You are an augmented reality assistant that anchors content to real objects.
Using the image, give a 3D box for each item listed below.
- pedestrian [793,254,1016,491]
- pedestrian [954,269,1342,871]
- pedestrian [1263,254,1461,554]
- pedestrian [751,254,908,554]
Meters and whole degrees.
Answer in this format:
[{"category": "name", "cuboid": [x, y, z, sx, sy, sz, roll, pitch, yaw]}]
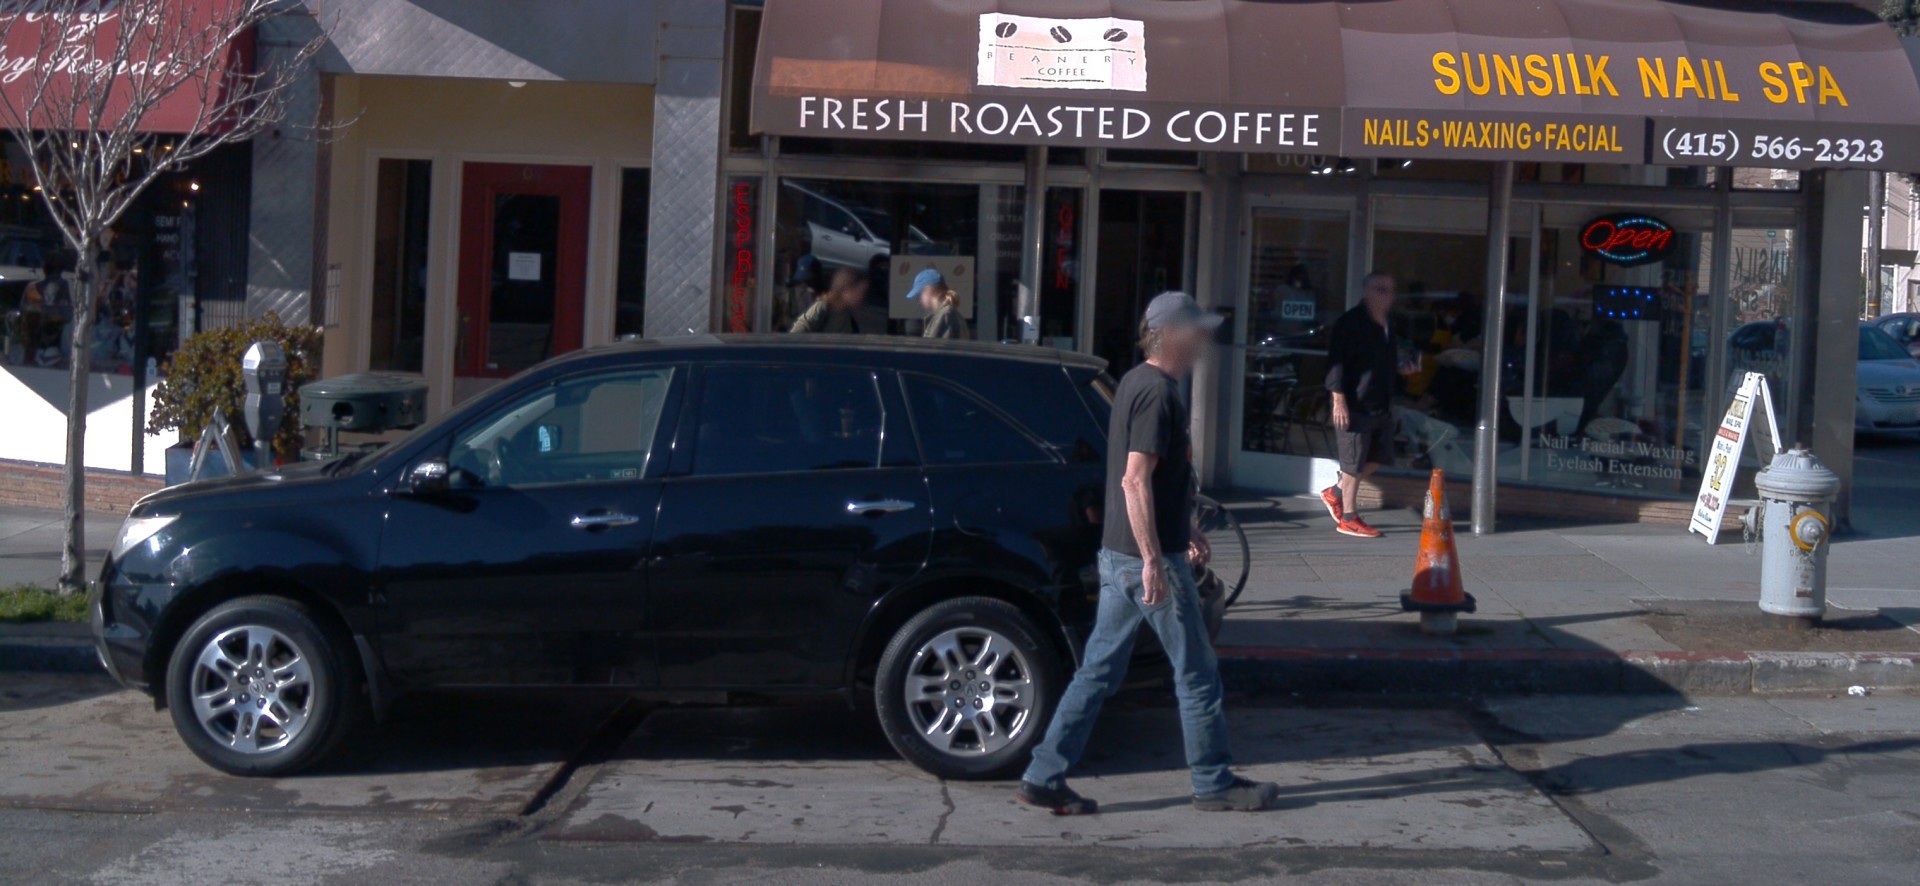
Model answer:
[{"category": "pedestrian", "cuboid": [-0.344, -0.488, 13.599, 1.342, 1.457, 0.879, 1, 3, 4]}, {"category": "pedestrian", "cuboid": [0.651, 0.392, 7.543, 1.196, 2.006, 0.874, 0, 2, -10]}, {"category": "pedestrian", "cuboid": [2.683, -0.307, 13.853, 0.927, 1.876, 0.941, 3, 3, 39]}, {"category": "pedestrian", "cuboid": [-0.854, -0.289, 13.492, 0.688, 1.856, 0.750, -1, 2, -40]}]
